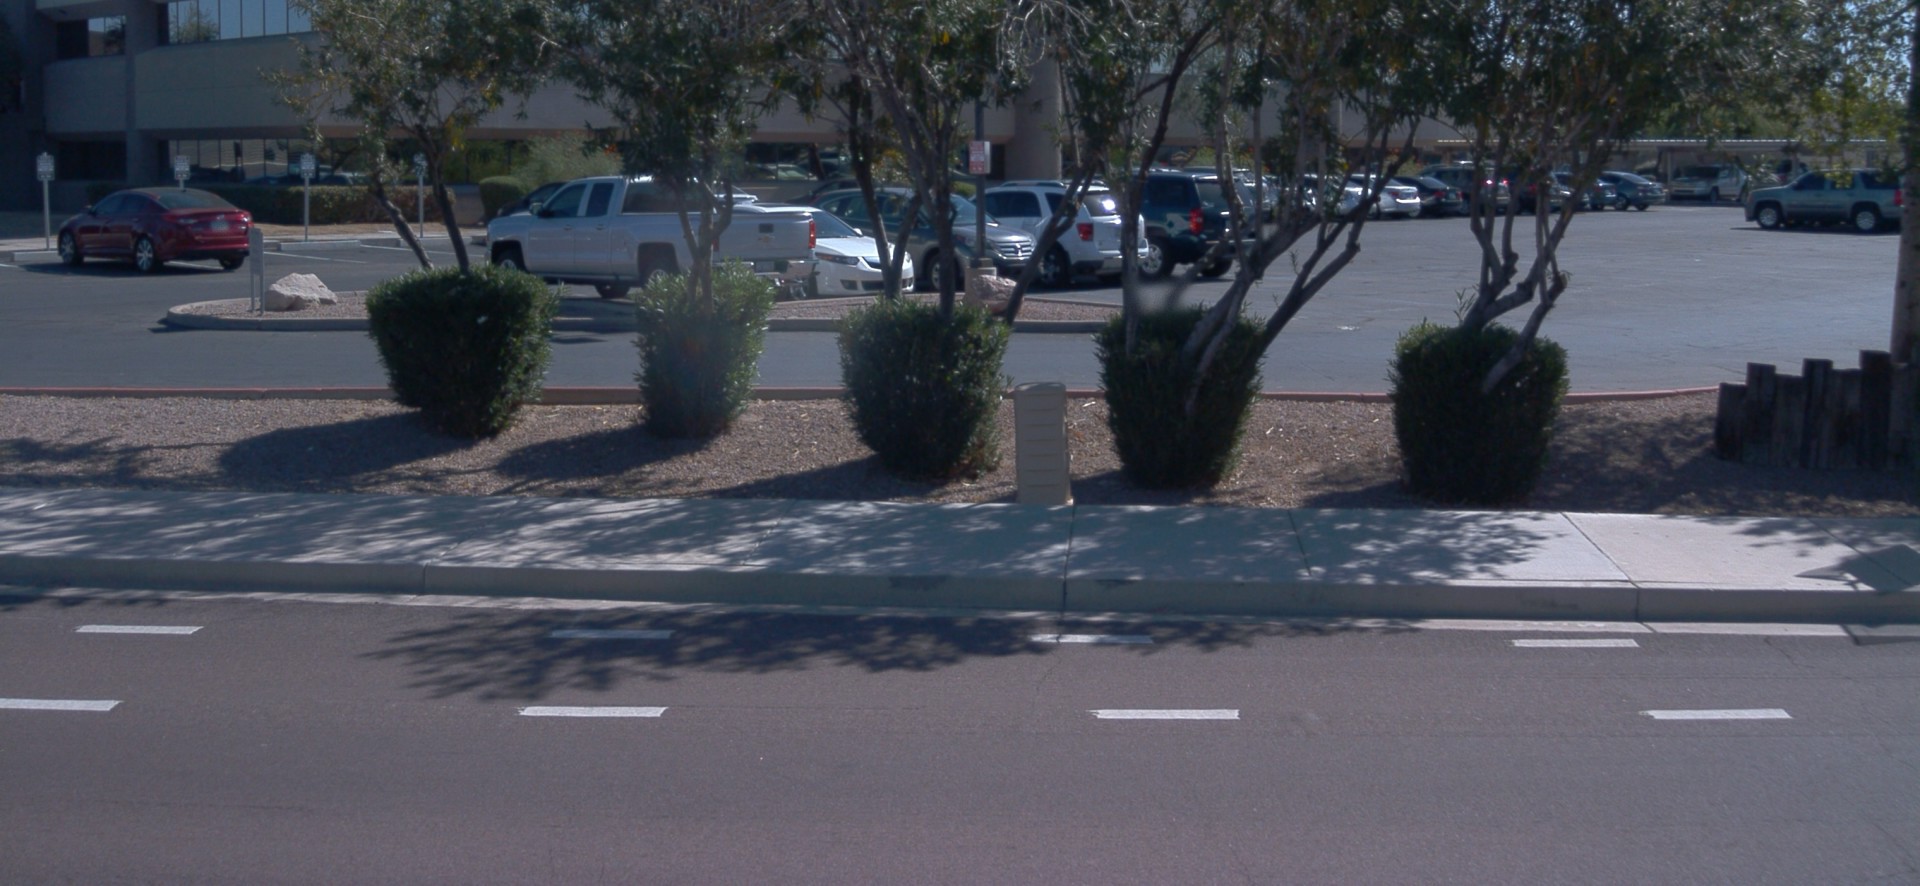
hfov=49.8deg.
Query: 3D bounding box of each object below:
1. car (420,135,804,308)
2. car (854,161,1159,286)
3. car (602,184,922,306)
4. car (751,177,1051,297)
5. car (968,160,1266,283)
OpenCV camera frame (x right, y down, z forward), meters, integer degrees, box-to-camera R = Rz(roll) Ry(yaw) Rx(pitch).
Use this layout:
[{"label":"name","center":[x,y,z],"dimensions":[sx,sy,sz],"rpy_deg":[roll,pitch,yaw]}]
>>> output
[{"label":"car","center":[-5.052,-3.126,29.357],"dimensions":[6.001,2.215,2.224],"rpy_deg":[5,5,44]},{"label":"car","center":[0.722,-3.761,35.578],"dimensions":[5.106,1.995,2.245],"rpy_deg":[5,6,45]},{"label":"car","center":[-3.066,-3.017,31.344],"dimensions":[4.921,1.695,2.120],"rpy_deg":[5,6,43]},{"label":"car","center":[-1.013,-3.330,33.396],"dimensions":[4.800,1.795,2.079],"rpy_deg":[5,6,44]},{"label":"car","center":[2.779,-4.014,37.625],"dimensions":[2.256,2.085,5.186],"rpy_deg":[-3,6,-45]}]
